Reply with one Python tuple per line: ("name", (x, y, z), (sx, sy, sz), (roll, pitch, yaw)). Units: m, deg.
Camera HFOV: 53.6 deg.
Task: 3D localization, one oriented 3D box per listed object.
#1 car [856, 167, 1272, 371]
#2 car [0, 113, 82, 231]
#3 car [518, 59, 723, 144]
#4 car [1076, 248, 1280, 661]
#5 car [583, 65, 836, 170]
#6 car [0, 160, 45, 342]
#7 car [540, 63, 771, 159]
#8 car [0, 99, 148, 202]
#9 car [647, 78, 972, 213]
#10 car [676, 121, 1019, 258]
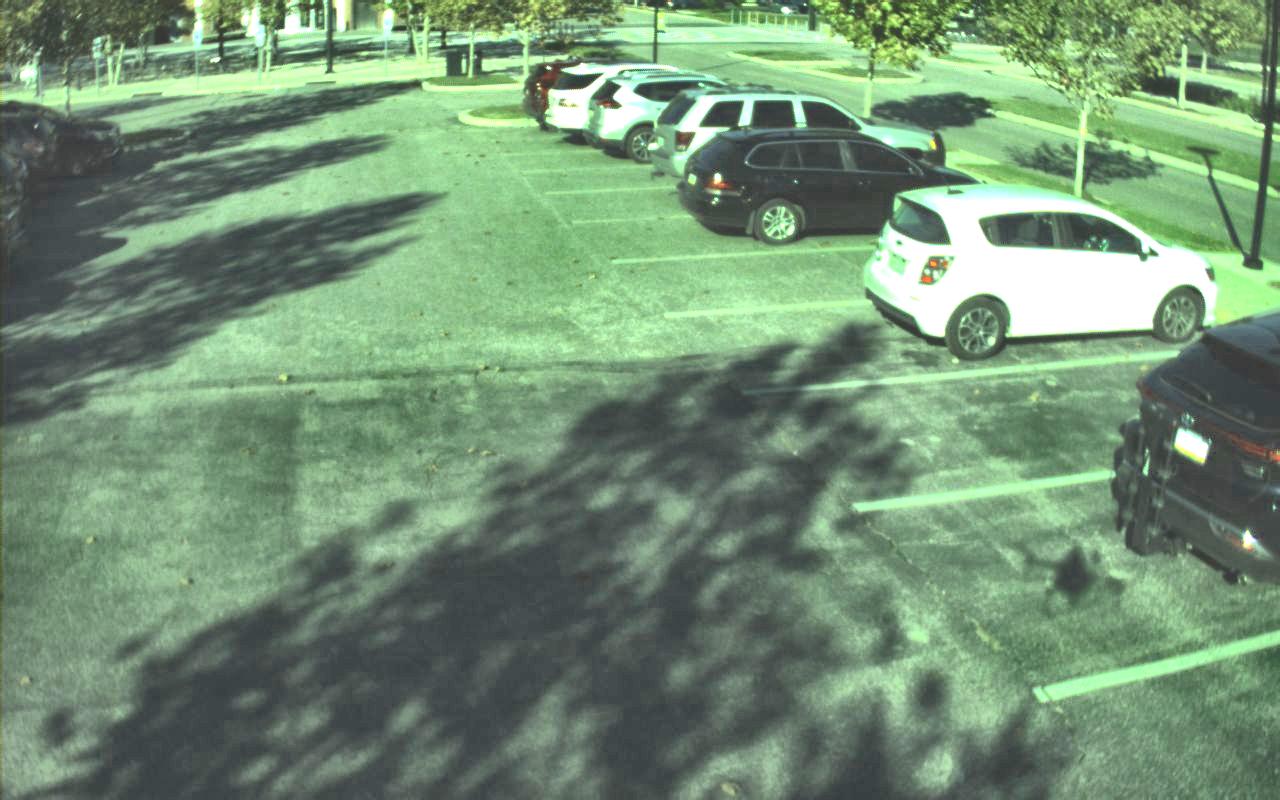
("car", (4.467, -1.483, 12.464), (4.137, 1.643, 1.889), (-5, 17, -12))
("car", (-13.266, -4.414, 21.324), (4.486, 1.647, 1.987), (-4, 16, -9))
("car", (-0.499, -7.127, 29.395), (4.510, 1.776, 2.001), (-5, 17, -14))
("car", (5.283, 0.097, 7.567), (4.526, 1.680, 2.012), (-9, 18, -24))
("car", (1.332, -5.619, 24.457), (4.624, 1.840, 2.020), (-5, 17, -12))
("car", (-10.085, -1.950, 13.933), (4.450, 1.620, 1.973), (-7, 17, -19))
("car", (0.307, -6.275, 26.776), (4.608, 1.817, 2.019), (-5, 17, -14))
("car", (-13.053, -5.363, 24.292), (4.504, 1.647, 1.984), (-2, 16, -2))
("car", (2.684, -4.134, 19.690), (4.796, 1.892, 2.067), (-5, 17, -12))
("car", (2.899, -3.025, 17.304), (4.449, 1.559, 1.928), (-5, 17, -13))
